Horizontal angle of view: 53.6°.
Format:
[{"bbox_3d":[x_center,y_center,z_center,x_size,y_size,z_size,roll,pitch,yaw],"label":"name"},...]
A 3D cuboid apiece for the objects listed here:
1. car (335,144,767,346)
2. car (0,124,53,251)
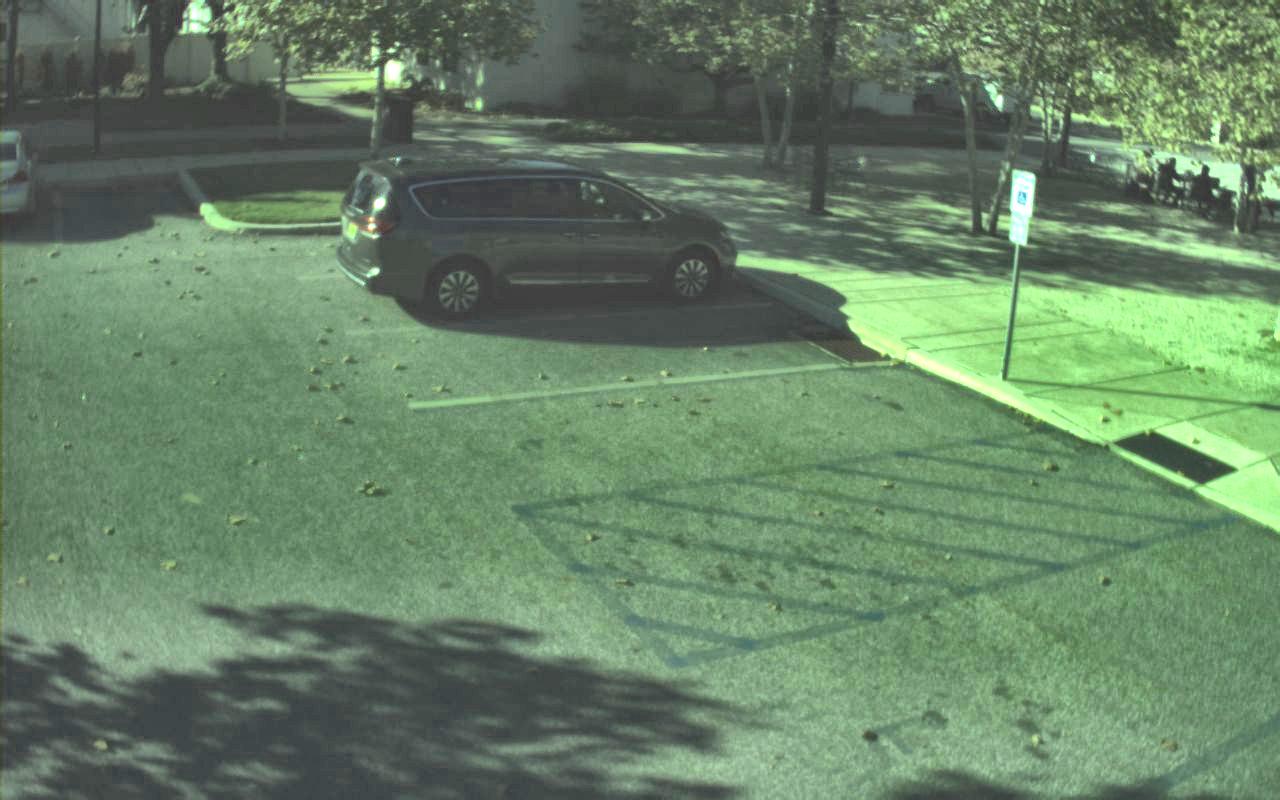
[{"bbox_3d":[-1.085,-2.056,15.440,4.959,1.744,2.064,-9,18,-26],"label":"car"},{"bbox_3d":[-11.155,-3.713,19.042,1.930,1.576,4.430,-9,19,-27],"label":"car"}]
